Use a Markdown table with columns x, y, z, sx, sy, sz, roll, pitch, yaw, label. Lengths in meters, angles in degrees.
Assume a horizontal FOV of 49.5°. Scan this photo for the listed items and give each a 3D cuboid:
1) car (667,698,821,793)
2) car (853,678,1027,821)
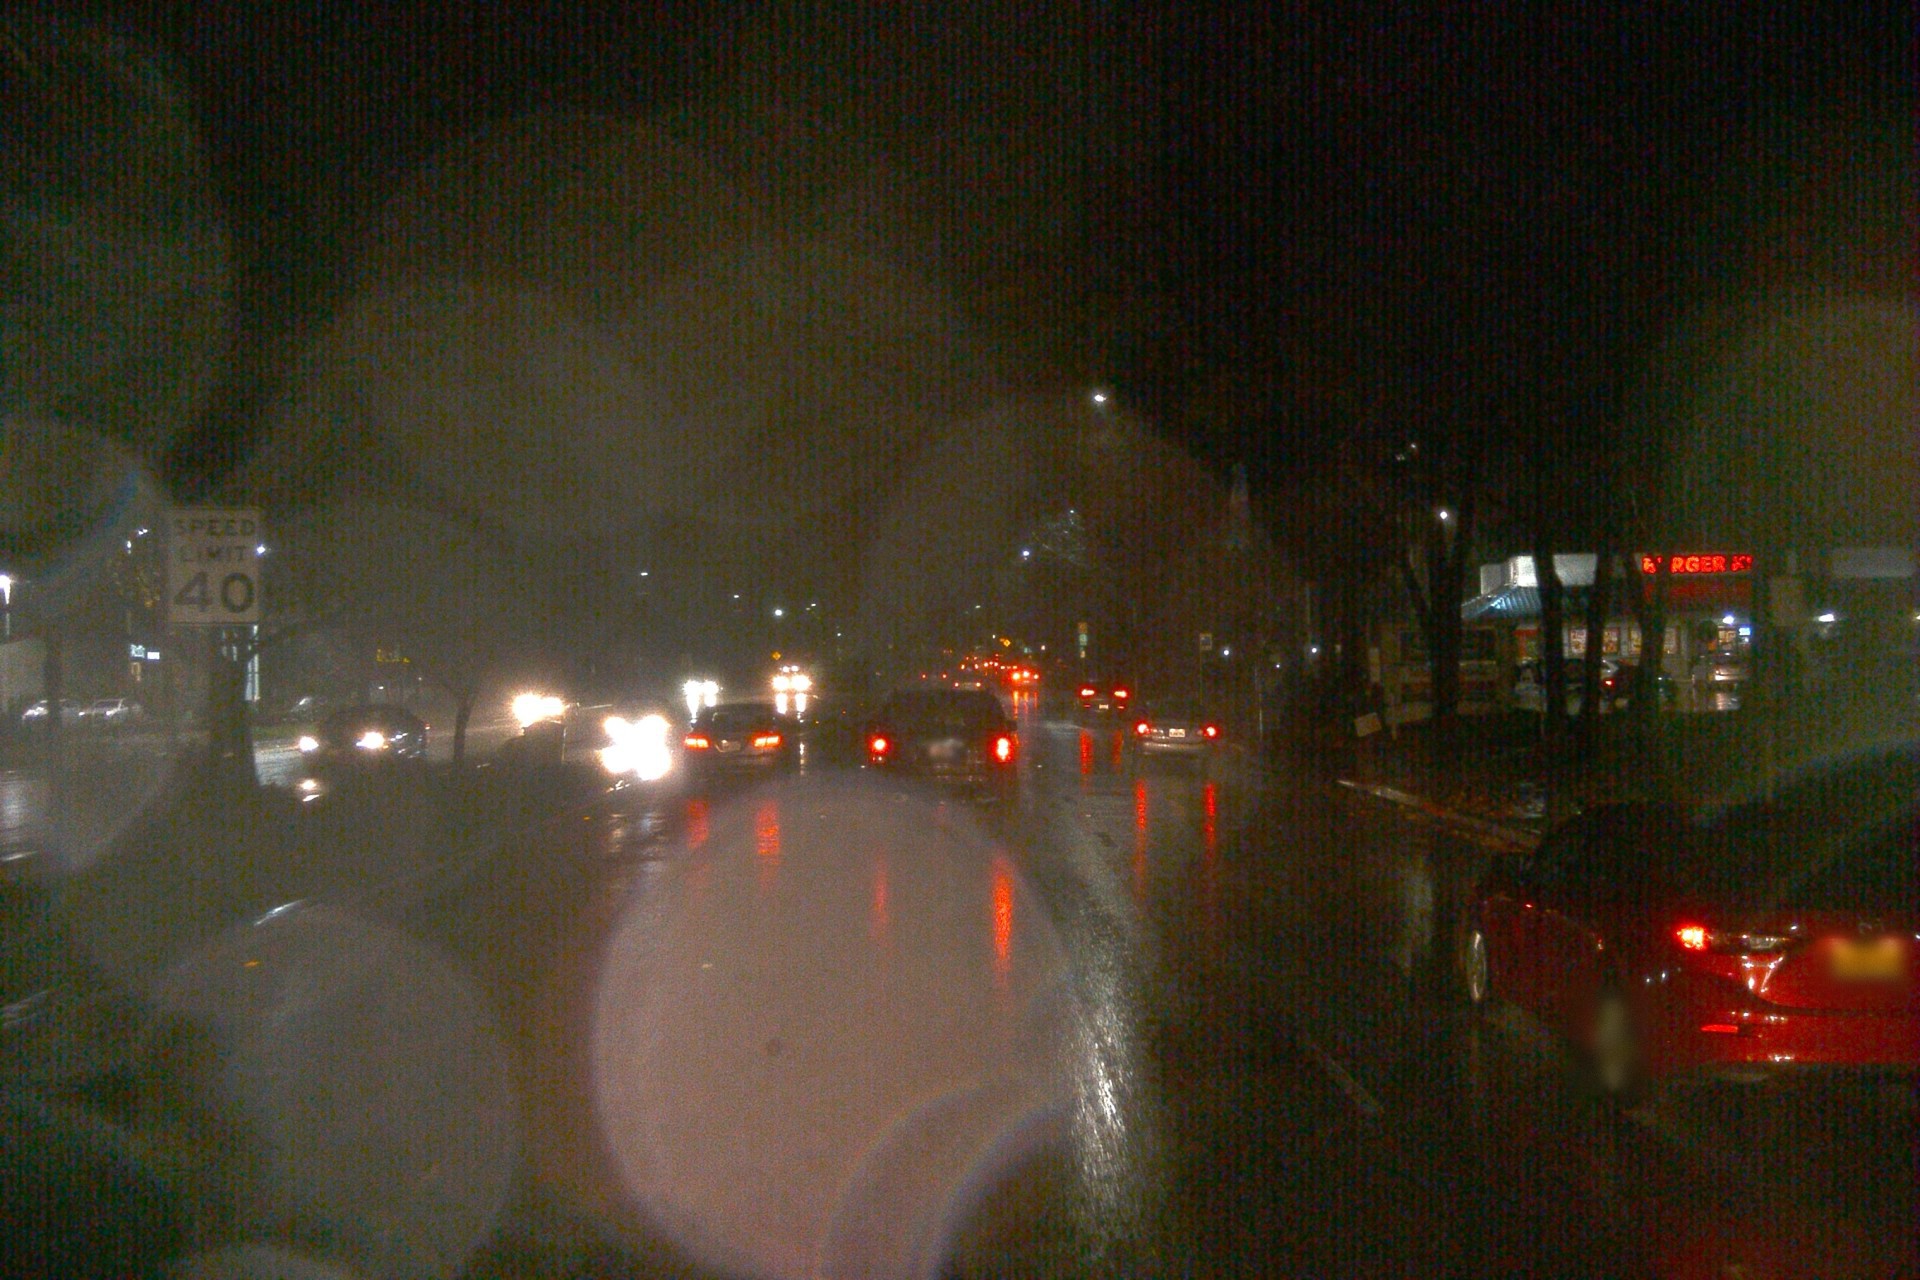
| x | y | z | sx | sy | sz | roll | pitch | yaw | label |
| --- | --- | --- | --- | --- | --- | --- | --- | --- | --- |
| -3.864 | 1.873 | 38.088 | 2.307 | 1.544 | 4.878 | 0 | -1 | 0 | car |
| -0.255 | 1.442 | 28.862 | 2.222 | 1.800 | 4.381 | 0 | -1 | 0 | car |
